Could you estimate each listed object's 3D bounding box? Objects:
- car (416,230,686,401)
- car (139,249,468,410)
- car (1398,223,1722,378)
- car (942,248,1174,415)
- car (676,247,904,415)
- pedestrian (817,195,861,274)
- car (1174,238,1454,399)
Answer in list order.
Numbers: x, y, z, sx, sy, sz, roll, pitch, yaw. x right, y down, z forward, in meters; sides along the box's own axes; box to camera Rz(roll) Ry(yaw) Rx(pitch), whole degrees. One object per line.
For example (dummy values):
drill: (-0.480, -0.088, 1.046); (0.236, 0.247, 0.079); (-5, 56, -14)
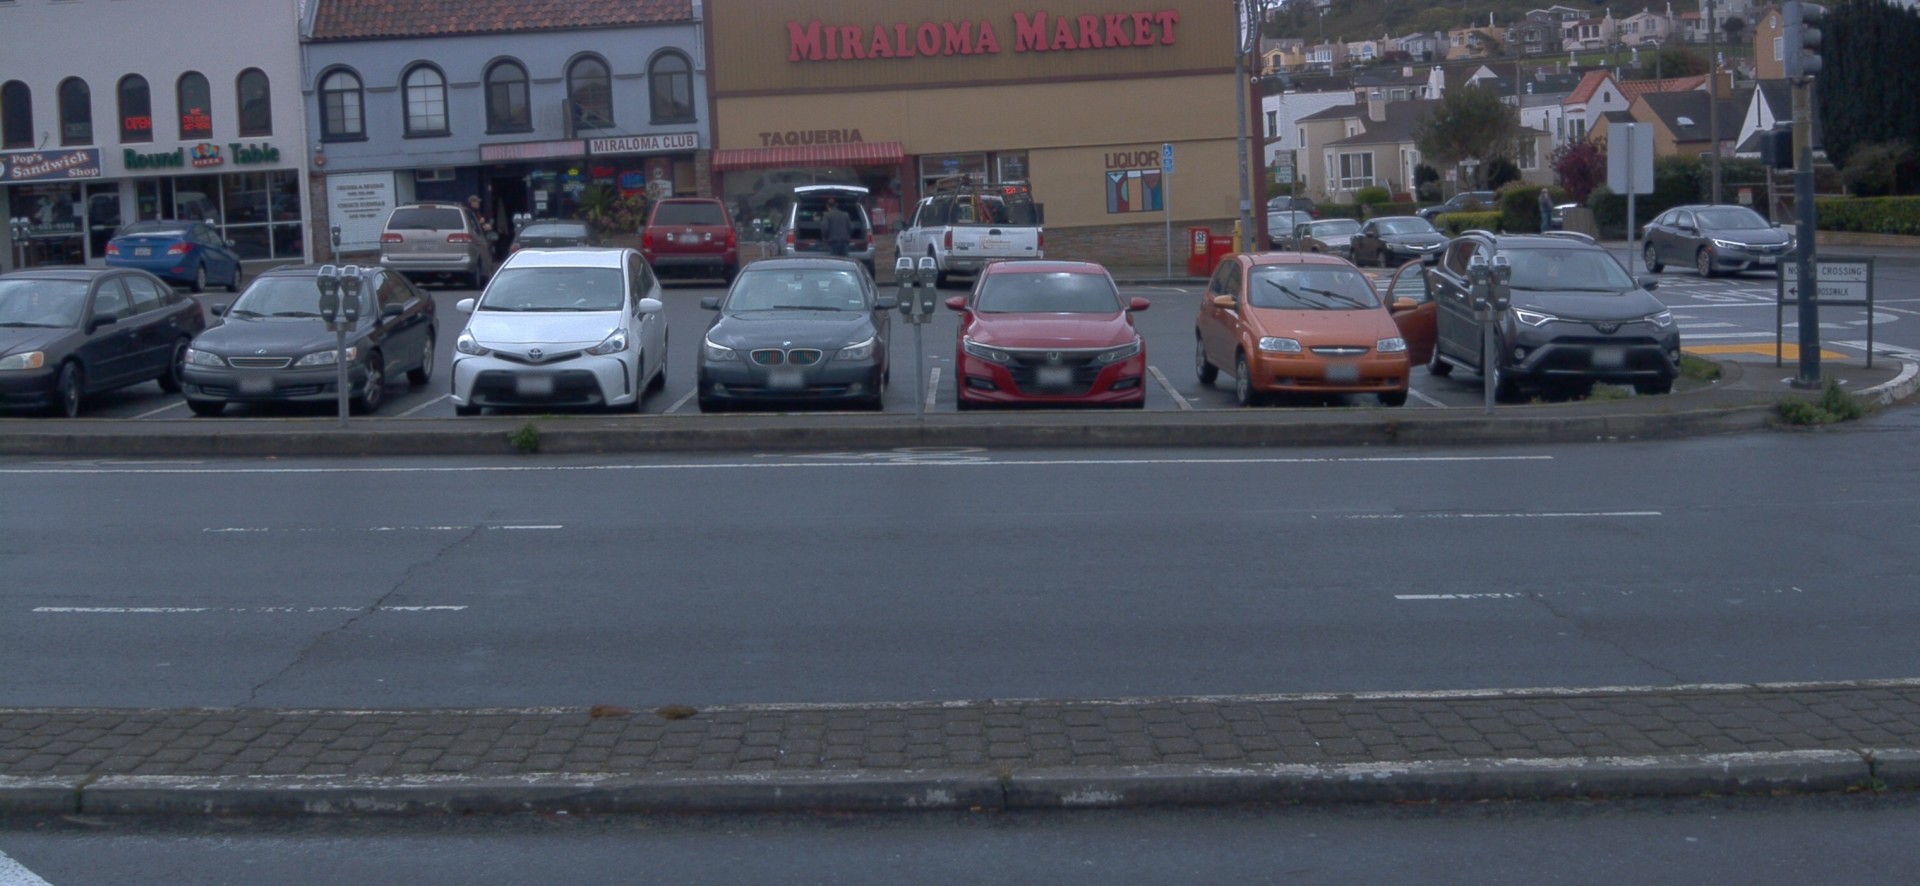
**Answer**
car: (-4.068, -1.415, 21.315); (2.132, 1.491, 4.678); (0, 6, -4)
car: (-6.717, -1.283, 21.703); (2.023, 1.392, 4.712); (0, 6, -1)
car: (6.390, -1.643, 22.575); (2.205, 1.461, 4.580); (0, 6, 0)
car: (0.907, -1.278, 21.831); (2.185, 1.461, 4.636); (0, 6, -1)
car: (-1.656, -1.269, 21.658); (2.112, 1.461, 4.574); (0, 6, -1)
pedestrian: (-2.281, -3.939, 38.881); (0.705, 1.457, 0.722); (-1, 2, -13)
car: (3.614, -1.397, 21.802); (2.049, 1.462, 4.037); (0, 6, -4)
